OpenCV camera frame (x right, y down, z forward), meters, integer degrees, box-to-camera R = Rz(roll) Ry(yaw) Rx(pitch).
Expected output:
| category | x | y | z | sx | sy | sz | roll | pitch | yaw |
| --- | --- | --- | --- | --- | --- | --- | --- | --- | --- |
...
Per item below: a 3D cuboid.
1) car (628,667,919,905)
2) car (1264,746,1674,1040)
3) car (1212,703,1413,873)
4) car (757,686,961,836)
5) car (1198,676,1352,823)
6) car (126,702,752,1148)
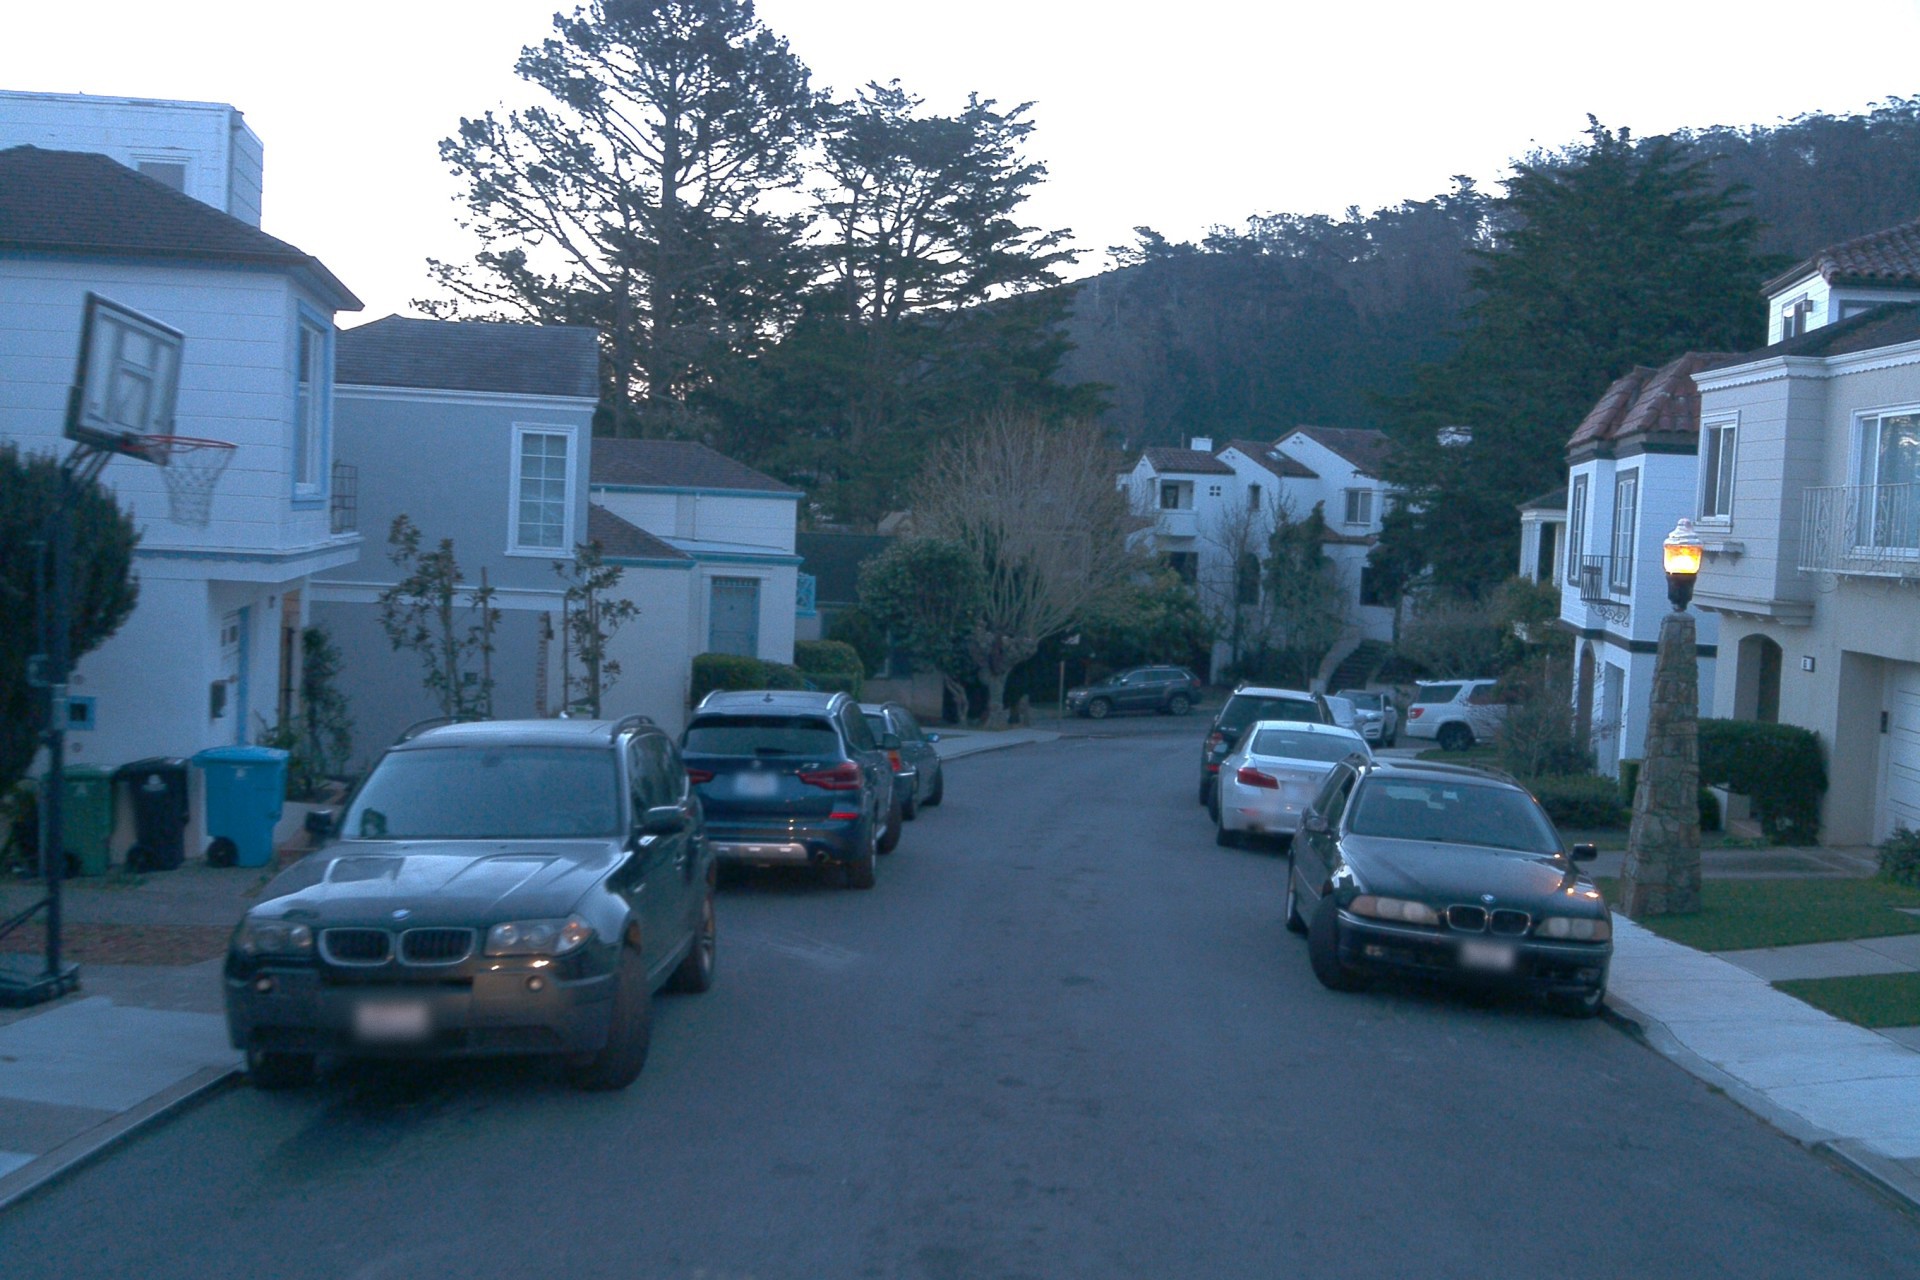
| category | x | y | z | sx | sy | sz | roll | pitch | yaw |
| --- | --- | --- | --- | --- | --- | --- | --- | --- | --- |
| car | -1.550 | 1.207 | 19.014 | 2.209 | 1.870 | 4.685 | 0 | 0 | 0 |
| car | 3.414 | 1.642 | 14.920 | 2.124 | 1.520 | 4.901 | 0 | 0 | 5 |
| car | 4.047 | 1.639 | 24.453 | 2.107 | 1.660 | 4.902 | 0 | 0 | 7 |
| car | -1.166 | 1.438 | 26.047 | 1.919 | 1.640 | 4.463 | 0 | 0 | 6 |
| car | 4.751 | 1.536 | 30.725 | 2.081 | 1.940 | 4.623 | 0 | 0 | 11 |
| car | -2.398 | 1.251 | 10.887 | 2.095 | 1.740 | 4.528 | 0 | 0 | 1 |
